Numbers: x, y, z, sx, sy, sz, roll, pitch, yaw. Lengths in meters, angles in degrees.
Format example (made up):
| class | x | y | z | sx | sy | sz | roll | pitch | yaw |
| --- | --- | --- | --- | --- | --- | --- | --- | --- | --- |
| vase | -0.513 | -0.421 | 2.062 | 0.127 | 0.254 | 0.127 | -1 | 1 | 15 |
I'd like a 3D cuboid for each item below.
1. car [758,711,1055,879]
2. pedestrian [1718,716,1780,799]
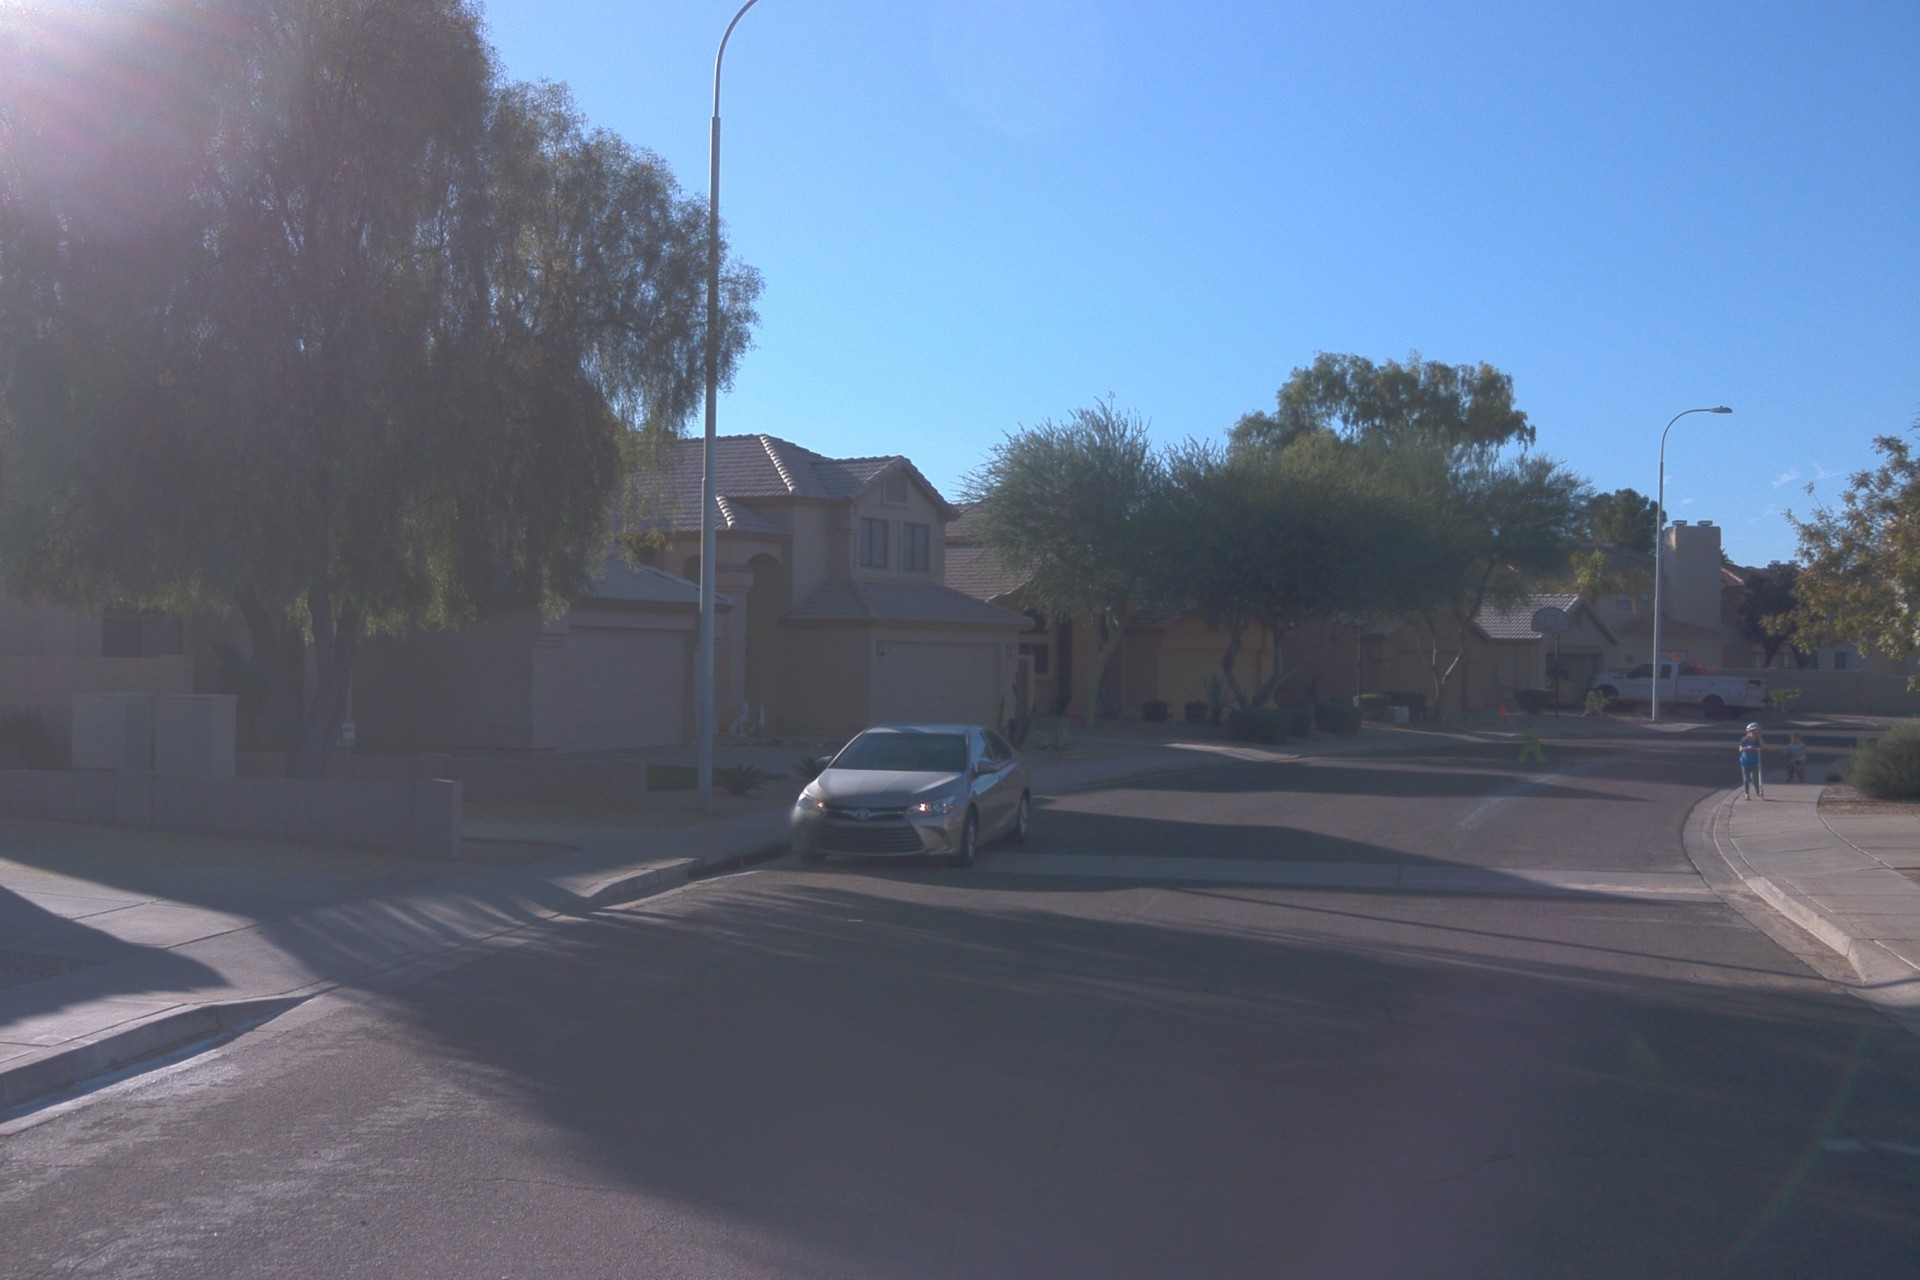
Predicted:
| class | x | y | z | sx | sy | sz | roll | pitch | yaw |
| --- | --- | --- | --- | --- | --- | --- | --- | --- | --- |
| car | -0.448 | 1.628 | 23.240 | 2.195 | 1.510 | 4.849 | 0 | 0 | 13 |
| pedestrian | 12.224 | 1.810 | 32.264 | 0.545 | 1.230 | 1.163 | 0 | 0 | 2 |
